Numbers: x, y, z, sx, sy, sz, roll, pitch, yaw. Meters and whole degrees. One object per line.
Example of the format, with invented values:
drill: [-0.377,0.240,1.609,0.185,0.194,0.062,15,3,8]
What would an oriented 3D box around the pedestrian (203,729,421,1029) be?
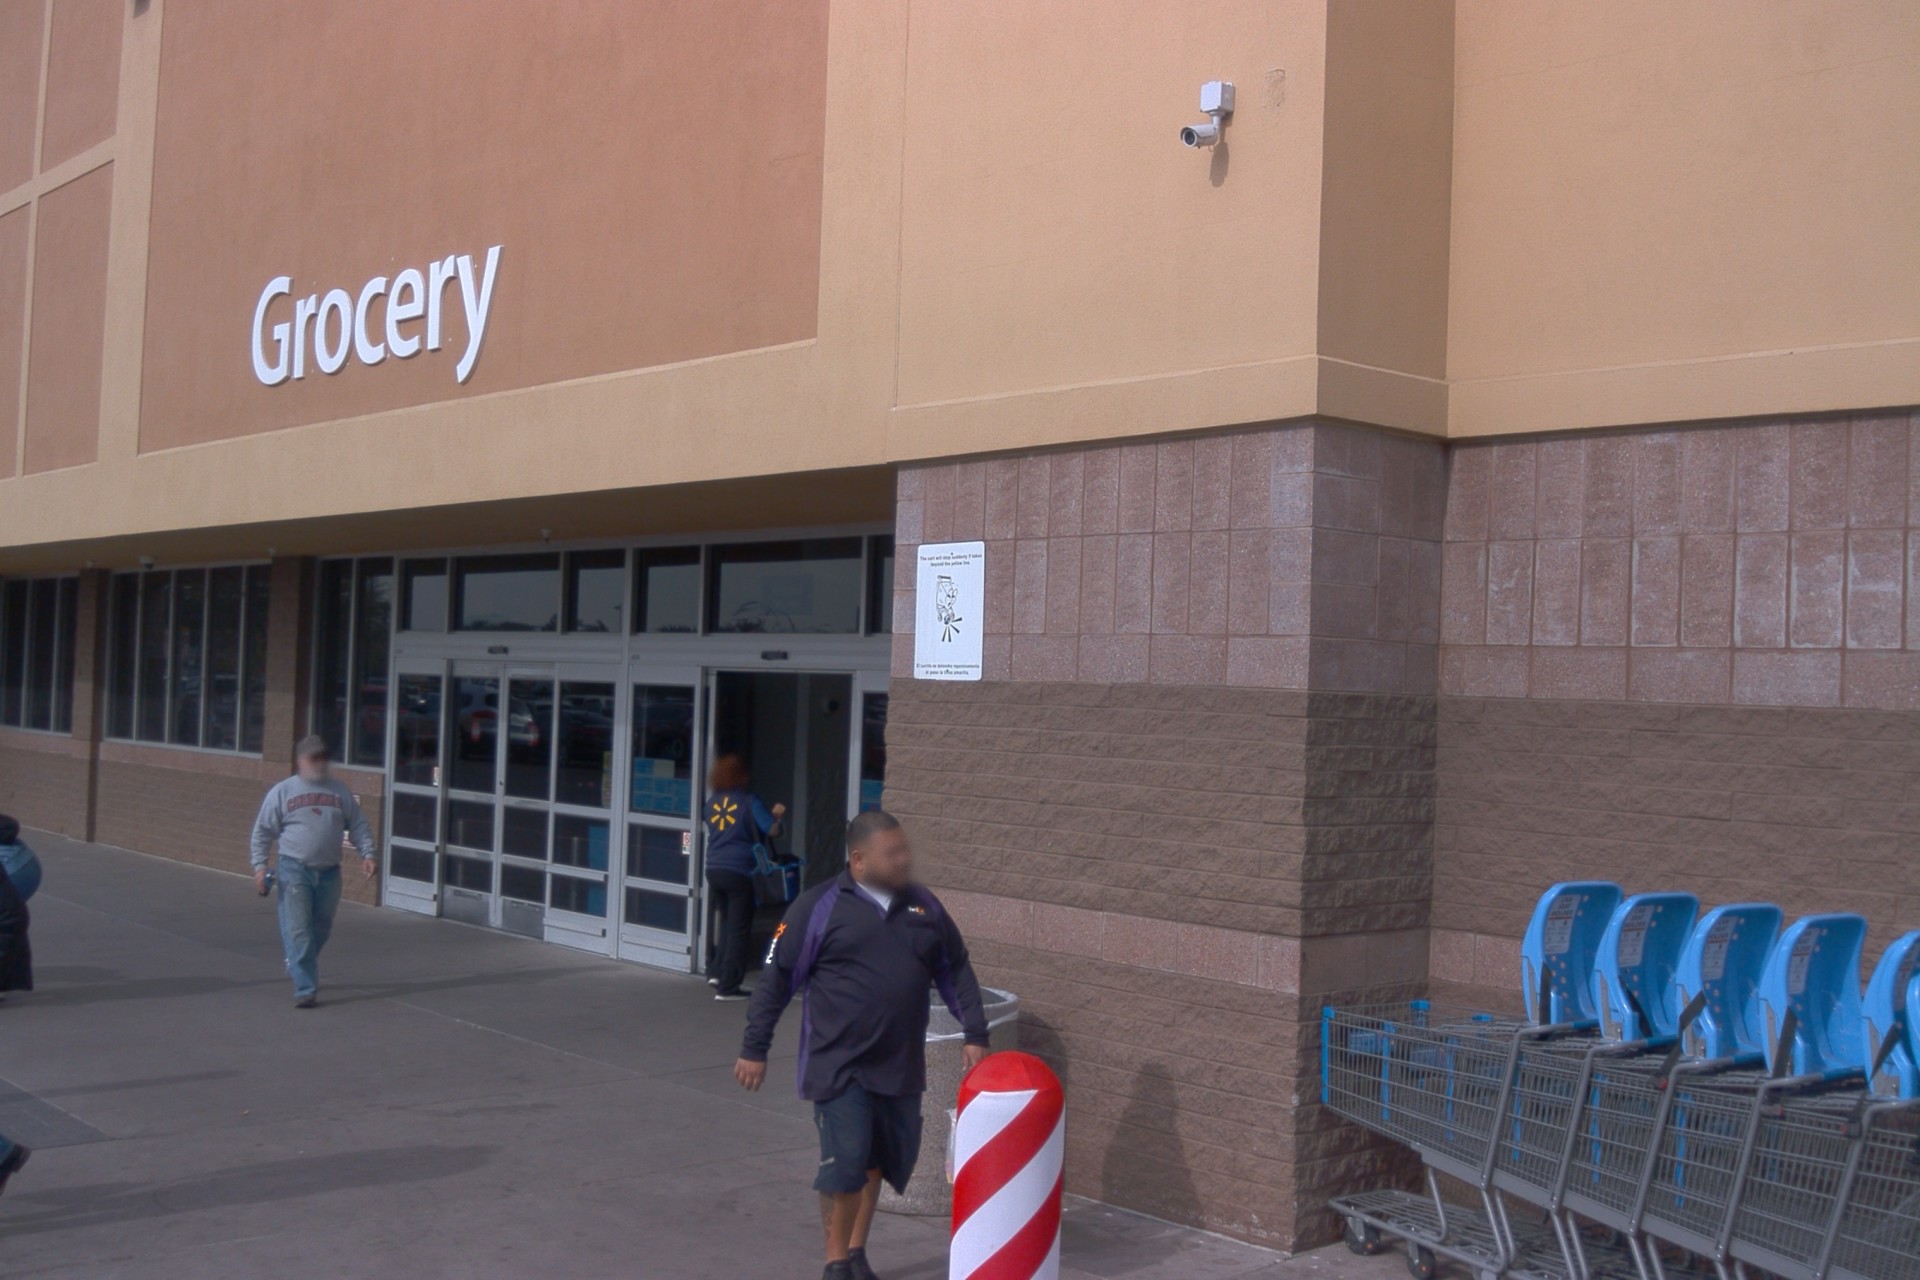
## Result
pedestrian: [-4.020,1.429,12.901,1.000,1.710,1.000,1,0,-35]

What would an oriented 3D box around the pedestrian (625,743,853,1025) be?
pedestrian: [-1.396,1.501,13.219,1.000,1.630,1.000,1,0,39]

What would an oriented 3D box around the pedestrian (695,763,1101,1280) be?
pedestrian: [-0.237,1.303,6.962,1.009,1.720,1.094,1,0,-23]
